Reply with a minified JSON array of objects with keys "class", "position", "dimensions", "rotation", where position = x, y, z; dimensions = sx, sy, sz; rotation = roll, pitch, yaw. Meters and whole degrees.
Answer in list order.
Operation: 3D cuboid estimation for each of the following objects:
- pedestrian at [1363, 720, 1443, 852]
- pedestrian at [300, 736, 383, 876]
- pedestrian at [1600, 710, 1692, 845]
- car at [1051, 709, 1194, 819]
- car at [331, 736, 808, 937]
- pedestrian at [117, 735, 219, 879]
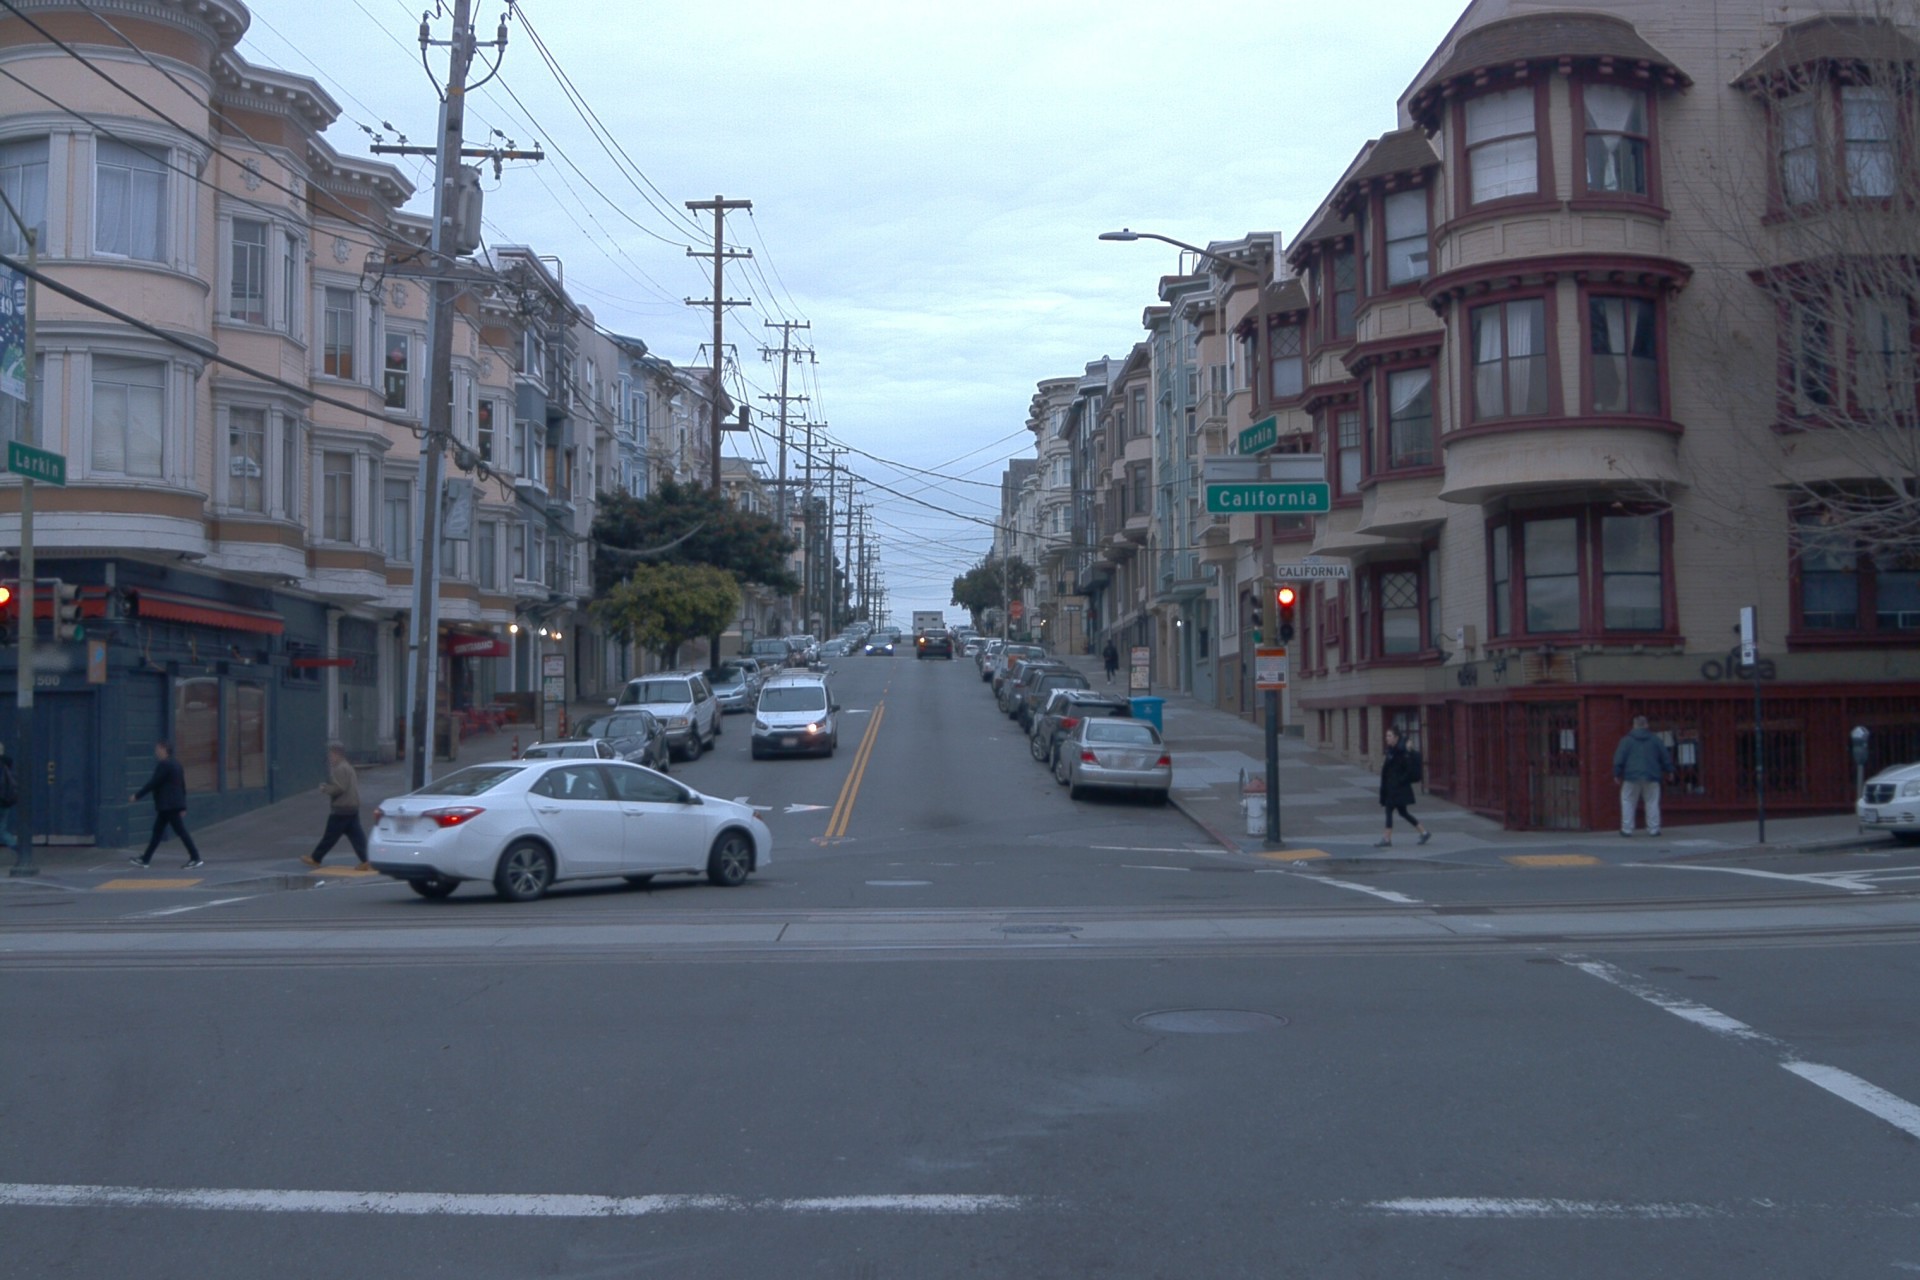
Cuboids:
[{"class":"pedestrian","position":[6.316,2.070,29.350],"dimensions":[0.943,1.820,0.722],"rotation":[0,1,-5]},{"class":"pedestrian","position":[-8.731,2.335,29.065],"dimensions":[0.950,1.900,0.786],"rotation":[0,1,-2]},{"class":"pedestrian","position":[9.711,1.931,29.136],"dimensions":[0.914,1.830,0.908],"rotation":[0,1,-8]},{"class":"car","position":[2.936,2.240,38.182],"dimensions":[2.108,1.700,4.470],"rotation":[0,1,-2]},{"class":"car","position":[-4.077,1.994,22.114],"dimensions":[2.154,1.600,4.678],"rotation":[1,1,42]},{"class":"pedestrian","position":[-11.020,2.310,28.647],"dimensions":[1.084,1.913,0.900],"rotation":[0,1,-3]}]
